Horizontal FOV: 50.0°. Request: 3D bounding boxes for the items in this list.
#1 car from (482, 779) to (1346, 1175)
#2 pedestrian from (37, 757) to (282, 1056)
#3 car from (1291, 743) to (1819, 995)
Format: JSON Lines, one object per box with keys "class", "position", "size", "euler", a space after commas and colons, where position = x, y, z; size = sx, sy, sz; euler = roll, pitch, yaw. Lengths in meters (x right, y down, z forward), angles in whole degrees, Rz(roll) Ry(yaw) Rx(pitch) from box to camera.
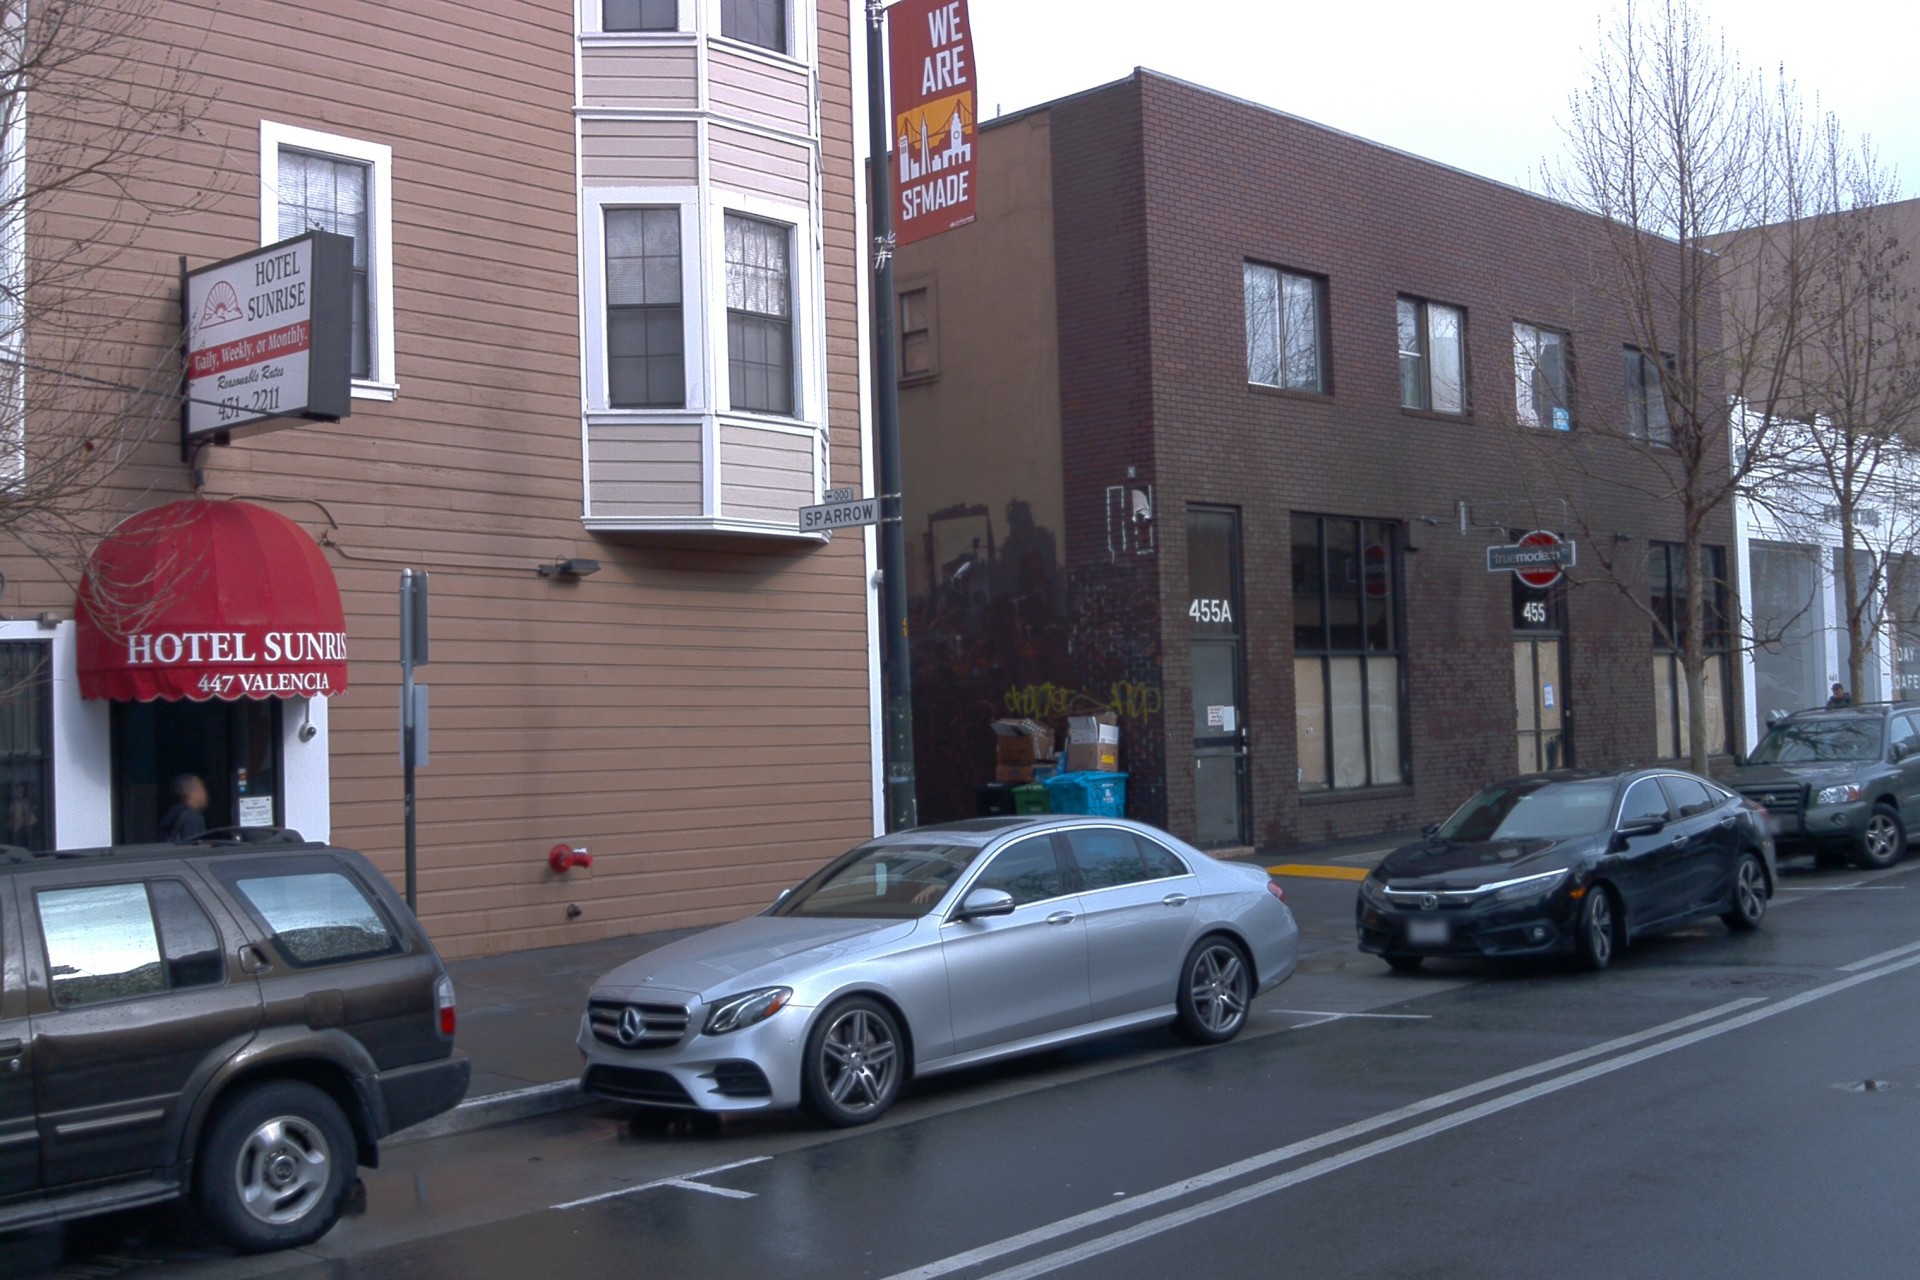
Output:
{"class": "car", "position": [-0.082, 1.757, 12.164], "size": [4.941, 1.460, 2.147], "euler": [-1, 1, -43]}
{"class": "pedestrian", "position": [-5.280, 1.706, 13.583], "size": [0.998, 1.756, 1.181], "euler": [1, 1, 42]}
{"class": "car", "position": [4.847, 1.667, 16.313], "size": [2.107, 1.390, 4.681], "euler": [1, 1, 43]}
